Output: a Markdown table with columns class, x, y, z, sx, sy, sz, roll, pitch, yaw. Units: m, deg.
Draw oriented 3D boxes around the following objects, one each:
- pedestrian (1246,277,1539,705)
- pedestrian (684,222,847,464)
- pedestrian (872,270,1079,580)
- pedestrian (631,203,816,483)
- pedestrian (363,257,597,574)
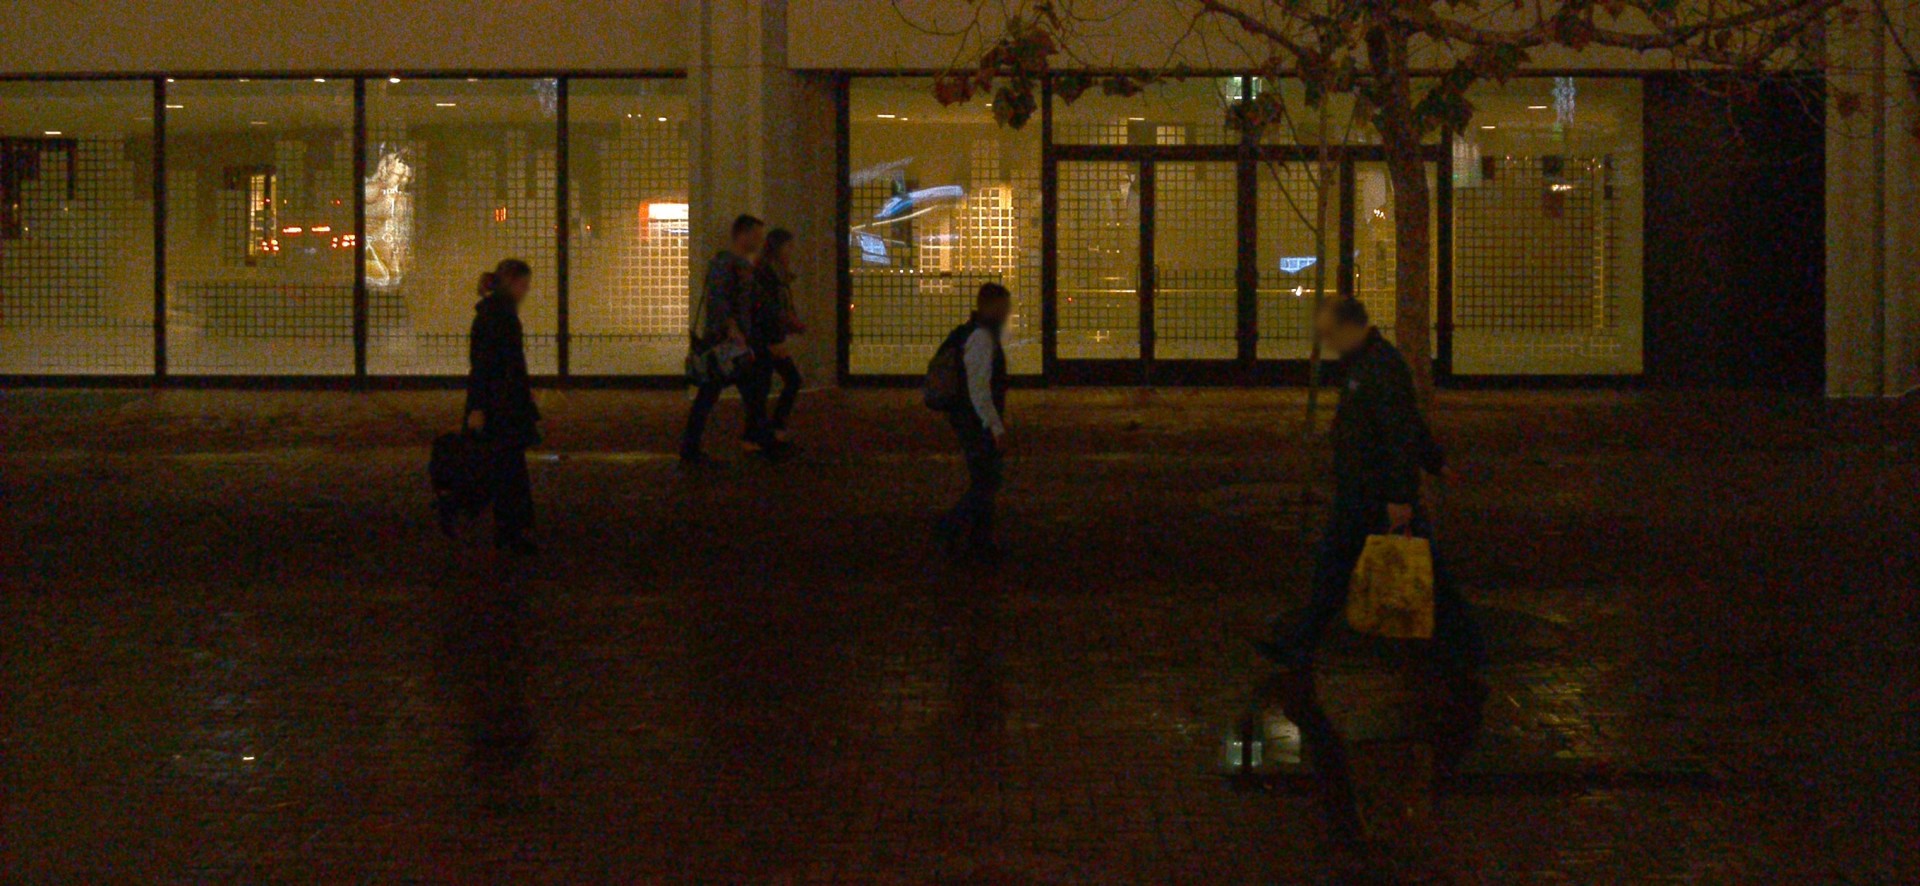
| class | x | y | z | sx | sy | sz | roll | pitch | yaw |
| --- | --- | --- | --- | --- | --- | --- | --- | --- | --- |
| pedestrian | 1.838 | 0.158 | 8.910 | 1.063 | 1.741 | 0.944 | 0 | 1 | 0 |
| pedestrian | -1.436 | -0.764 | 15.358 | 1.132 | 1.761 | 0.747 | 0 | 0 | 1 |
| pedestrian | 0.096 | -0.132 | 11.474 | 1.106 | 1.651 | 0.848 | 0 | 1 | 2 |
| pedestrian | -1.659 | -0.730 | 14.620 | 1.195 | 1.931 | 0.894 | 0 | 1 | 1 |
| pedestrian | -2.742 | -0.198 | 11.874 | 1.091 | 1.751 | 0.970 | 0 | 1 | 2 |
